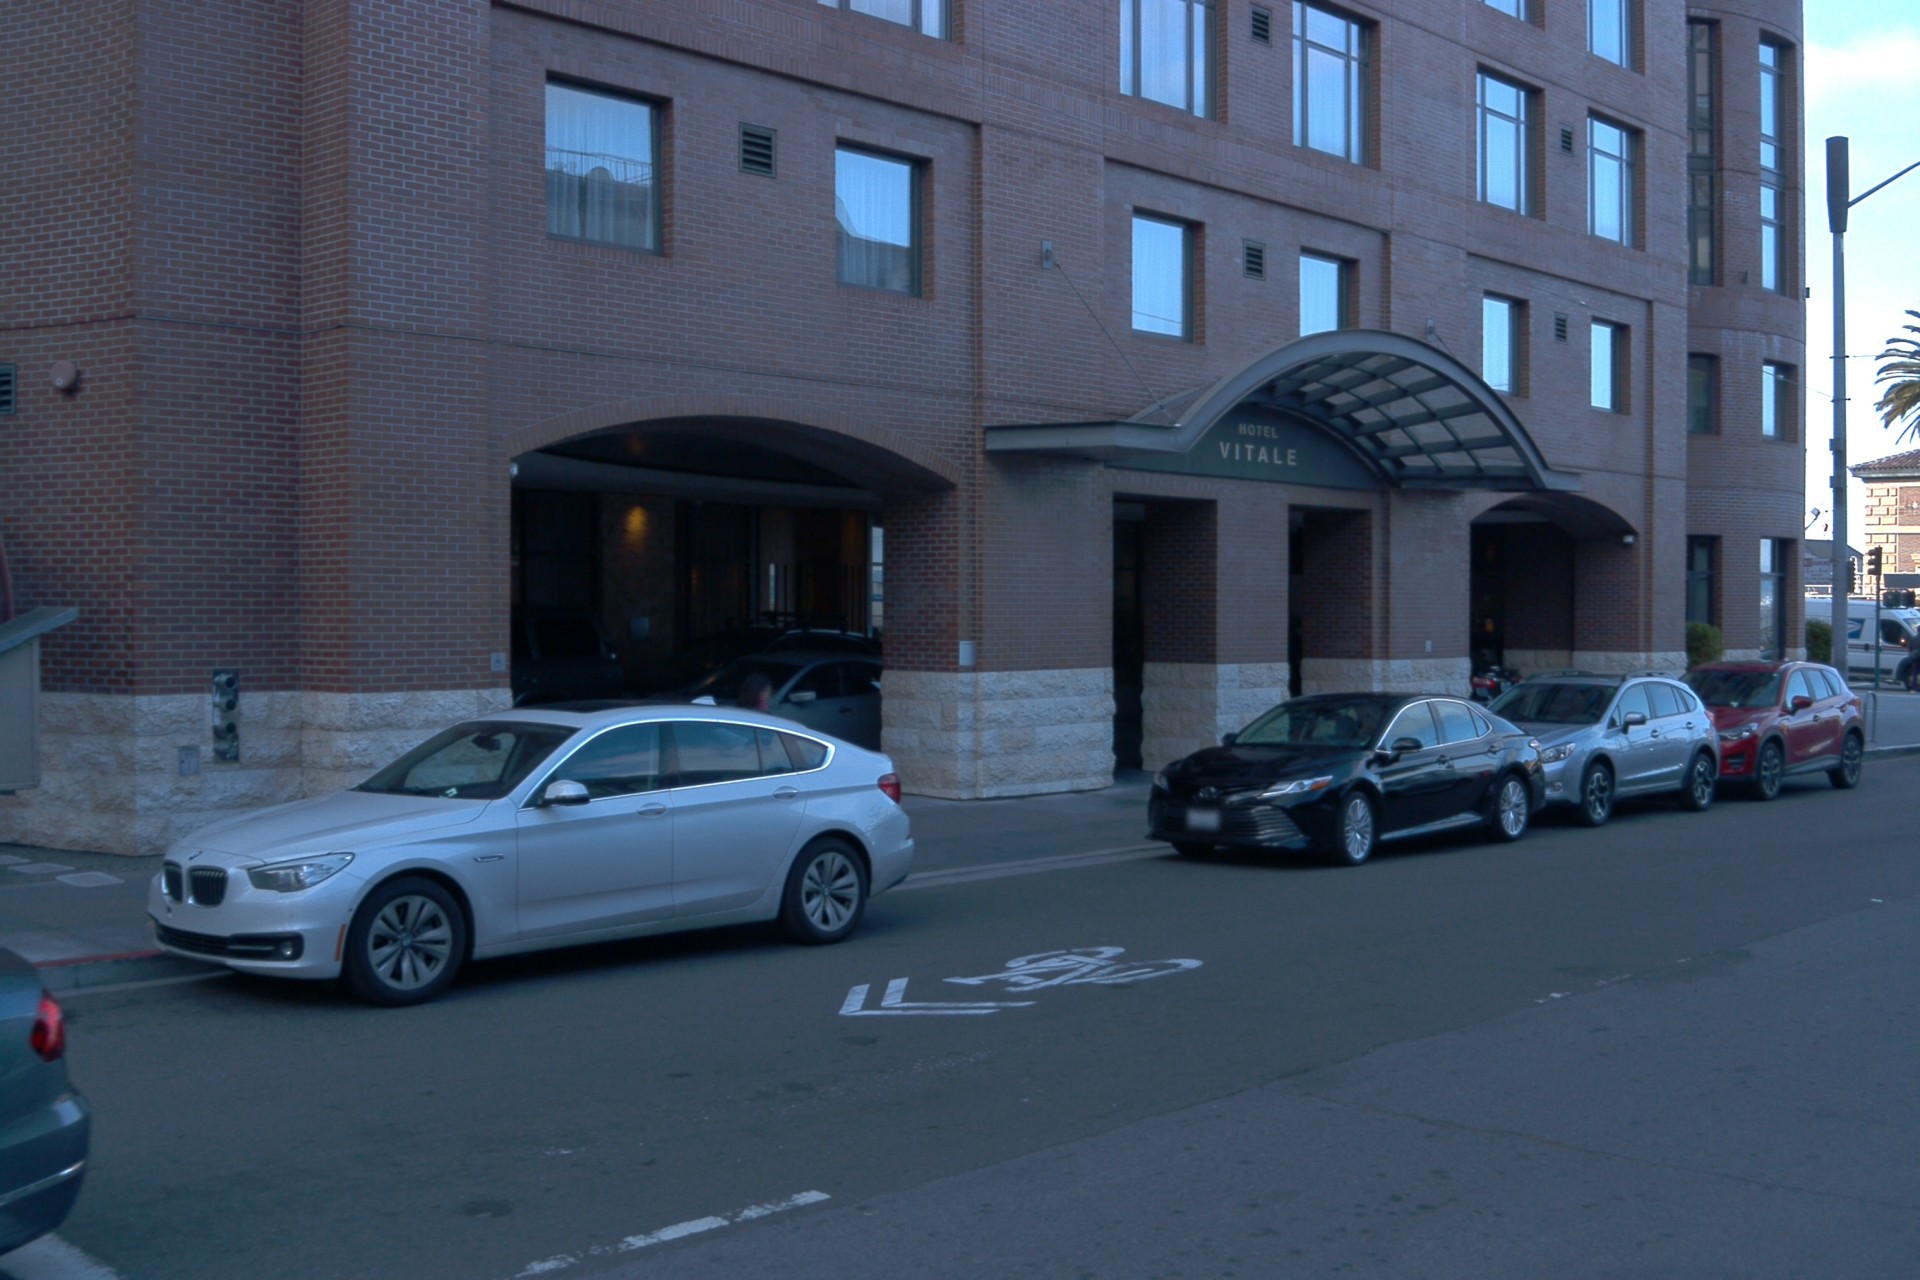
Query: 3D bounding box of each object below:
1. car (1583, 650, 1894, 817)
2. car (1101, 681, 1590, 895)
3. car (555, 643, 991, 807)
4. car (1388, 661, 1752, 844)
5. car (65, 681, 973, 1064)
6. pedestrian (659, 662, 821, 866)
[{"bbox_3d":[9.908,1.089,26.078,2.120,1.830,4.483,1,1,43],"label":"car"},{"bbox_3d":[3.691,1.236,19.060,2.204,1.534,4.940,1,1,42],"label":"car"},{"bbox_3d":[-2.020,0.873,23.651,2.054,1.600,4.898,1,1,41],"label":"car"},{"bbox_3d":[6.787,1.131,22.681,2.045,1.693,4.467,1,1,43],"label":"car"},{"bbox_3d":[-2.435,1.173,12.536,2.152,1.680,5.054,1,1,43],"label":"car"},{"bbox_3d":[-1.815,0.992,17.025,0.934,1.584,0.956,-1,1,-42],"label":"pedestrian"}]
